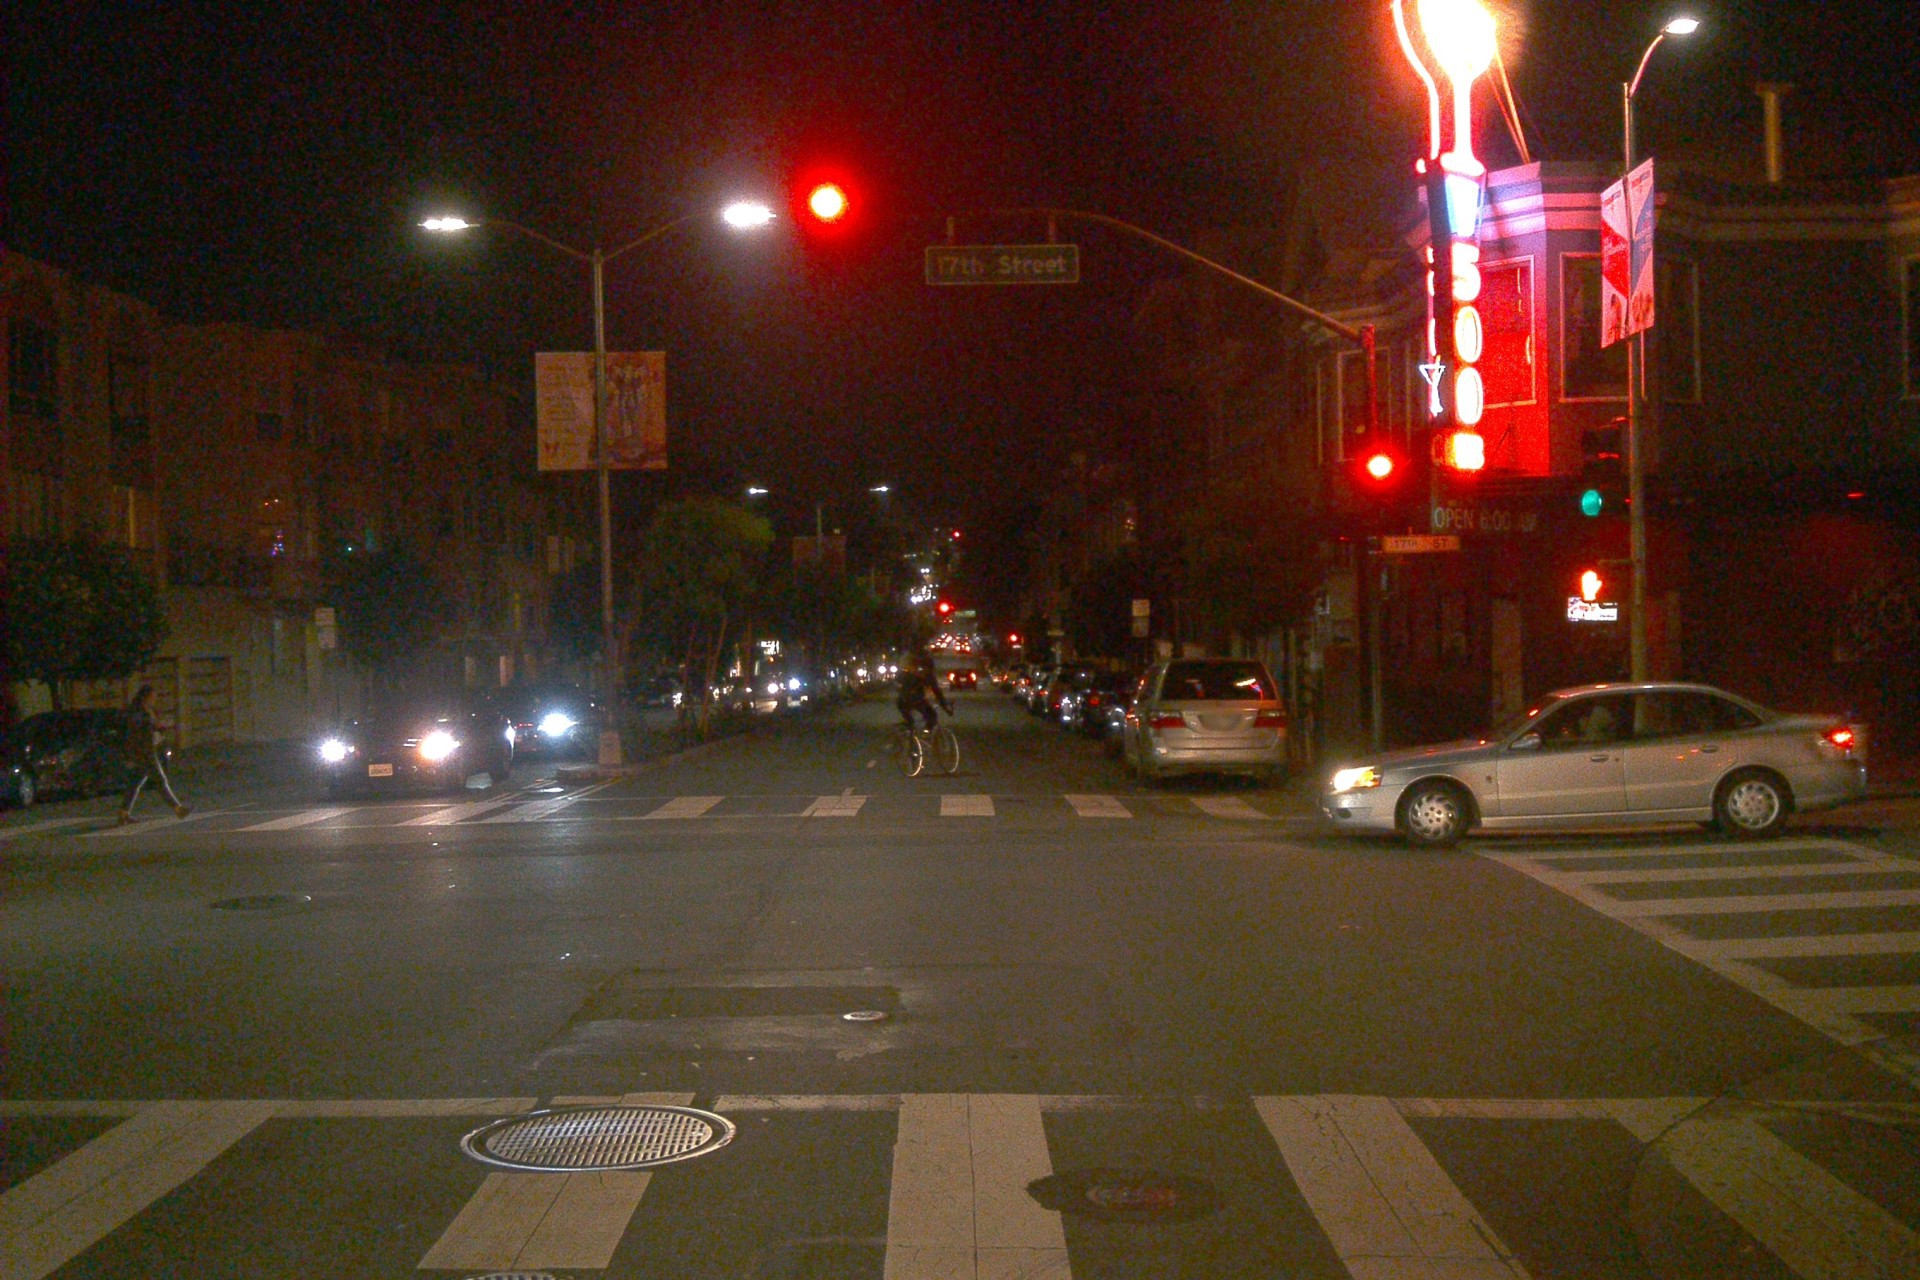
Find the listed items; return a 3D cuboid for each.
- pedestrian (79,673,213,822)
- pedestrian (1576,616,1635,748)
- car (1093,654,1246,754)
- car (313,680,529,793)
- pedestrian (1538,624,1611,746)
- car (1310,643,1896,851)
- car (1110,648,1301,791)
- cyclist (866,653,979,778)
[{"bbox_3d":[-9.595,1.254,24.277,1.189,1.690,0.924,1,0,3],"label":"pedestrian"},{"bbox_3d":[9.050,0.576,28.828,0.739,1.820,0.628,1,0,20],"label":"pedestrian"},{"bbox_3d":[3.322,0.987,33.307,1.810,1.470,4.216,1,0,-3],"label":"car"},{"bbox_3d":[-7.621,1.328,29.528,1.903,1.390,4.511,1,0,0],"label":"car"},{"bbox_3d":[8.813,0.642,29.498,0.721,1.720,0.691,1,0,-18],"label":"pedestrian"},{"bbox_3d":[5.709,0.910,18.890,4.826,1.720,2.135,1,0,8],"label":"car"},{"bbox_3d":[3.288,1.021,28.469,2.087,1.770,4.655,1,0,0],"label":"car"},{"bbox_3d":[-0.535,1.082,30.251,0.822,1.760,1.917,1,0,28],"label":"cyclist"}]
